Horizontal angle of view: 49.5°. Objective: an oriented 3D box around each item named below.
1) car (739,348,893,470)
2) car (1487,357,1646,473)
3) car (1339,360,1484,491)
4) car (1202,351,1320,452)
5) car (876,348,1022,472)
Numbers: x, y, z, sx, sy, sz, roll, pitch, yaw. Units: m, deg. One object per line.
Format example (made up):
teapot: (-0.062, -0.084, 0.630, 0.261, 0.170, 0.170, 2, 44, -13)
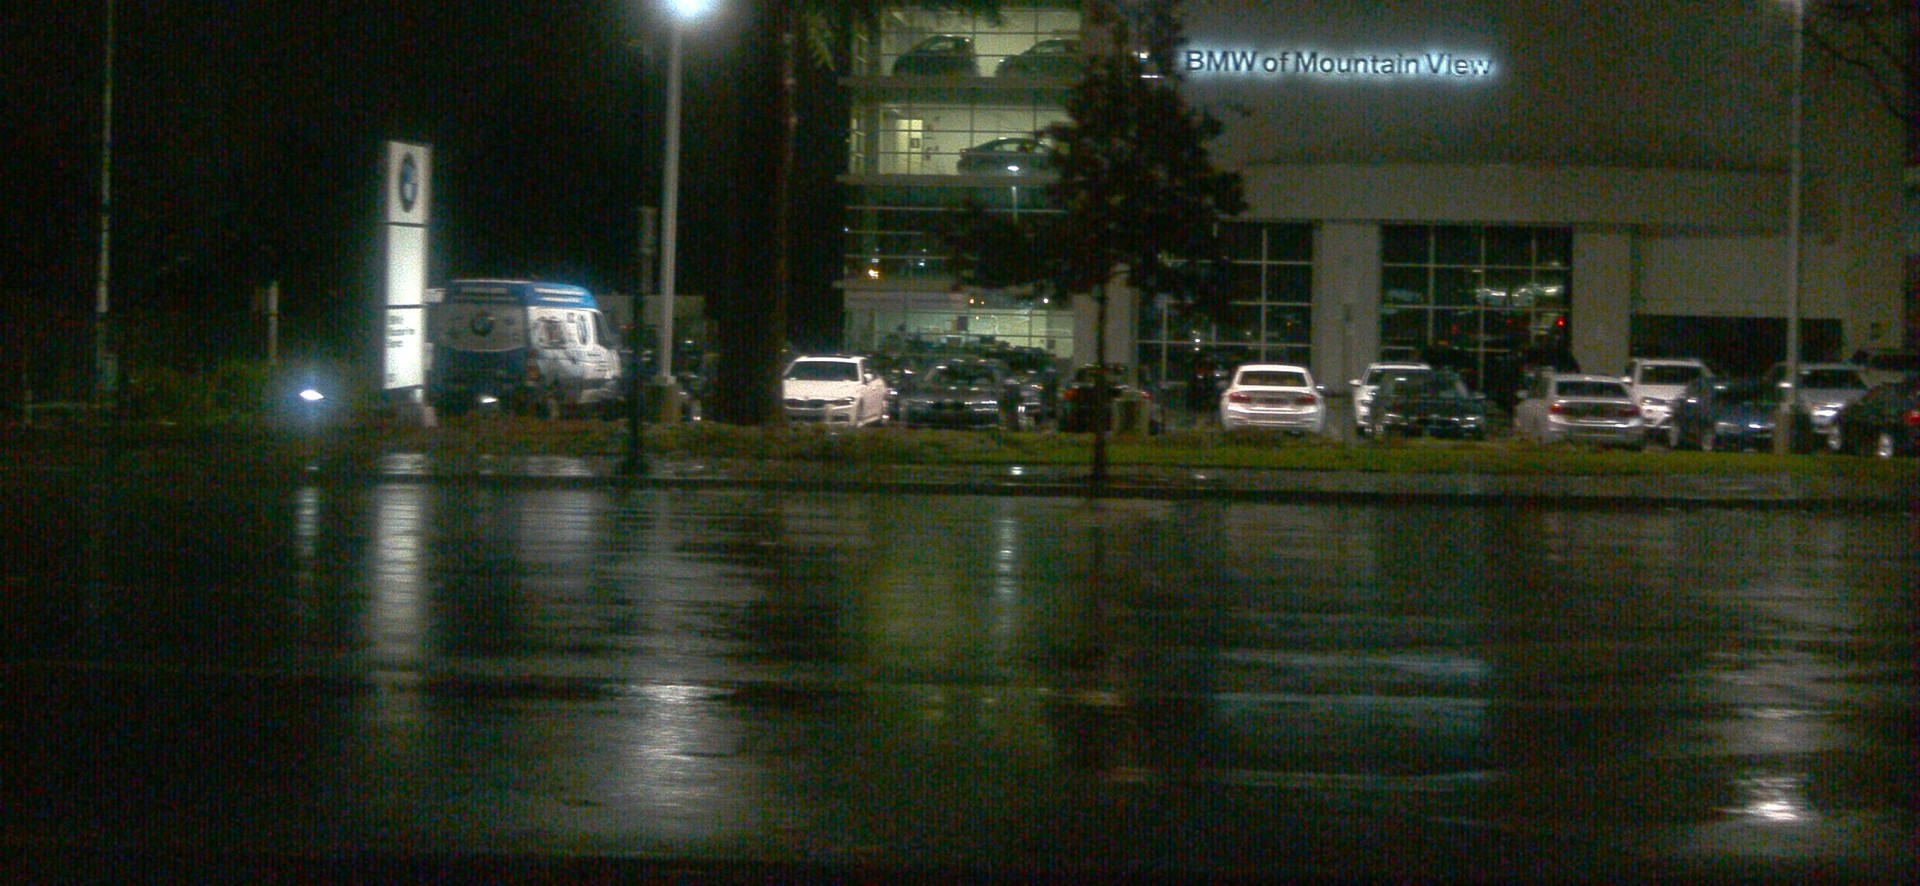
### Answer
car: (-2.672, -0.720, 39.709, 2.087, 1.913, 4.509, 1, 5, 7)
car: (10.870, -0.561, 37.606, 2.078, 1.684, 4.216, 1, 5, 7)
car: (8.191, -0.399, 38.161, 2.171, 1.903, 4.803, 1, 5, 7)
car: (5.612, -0.839, 39.248, 2.034, 1.514, 4.372, 1, 5, 6)
car: (-0.143, -0.694, 39.416, 2.168, 1.933, 4.521, 1, 5, 7)
